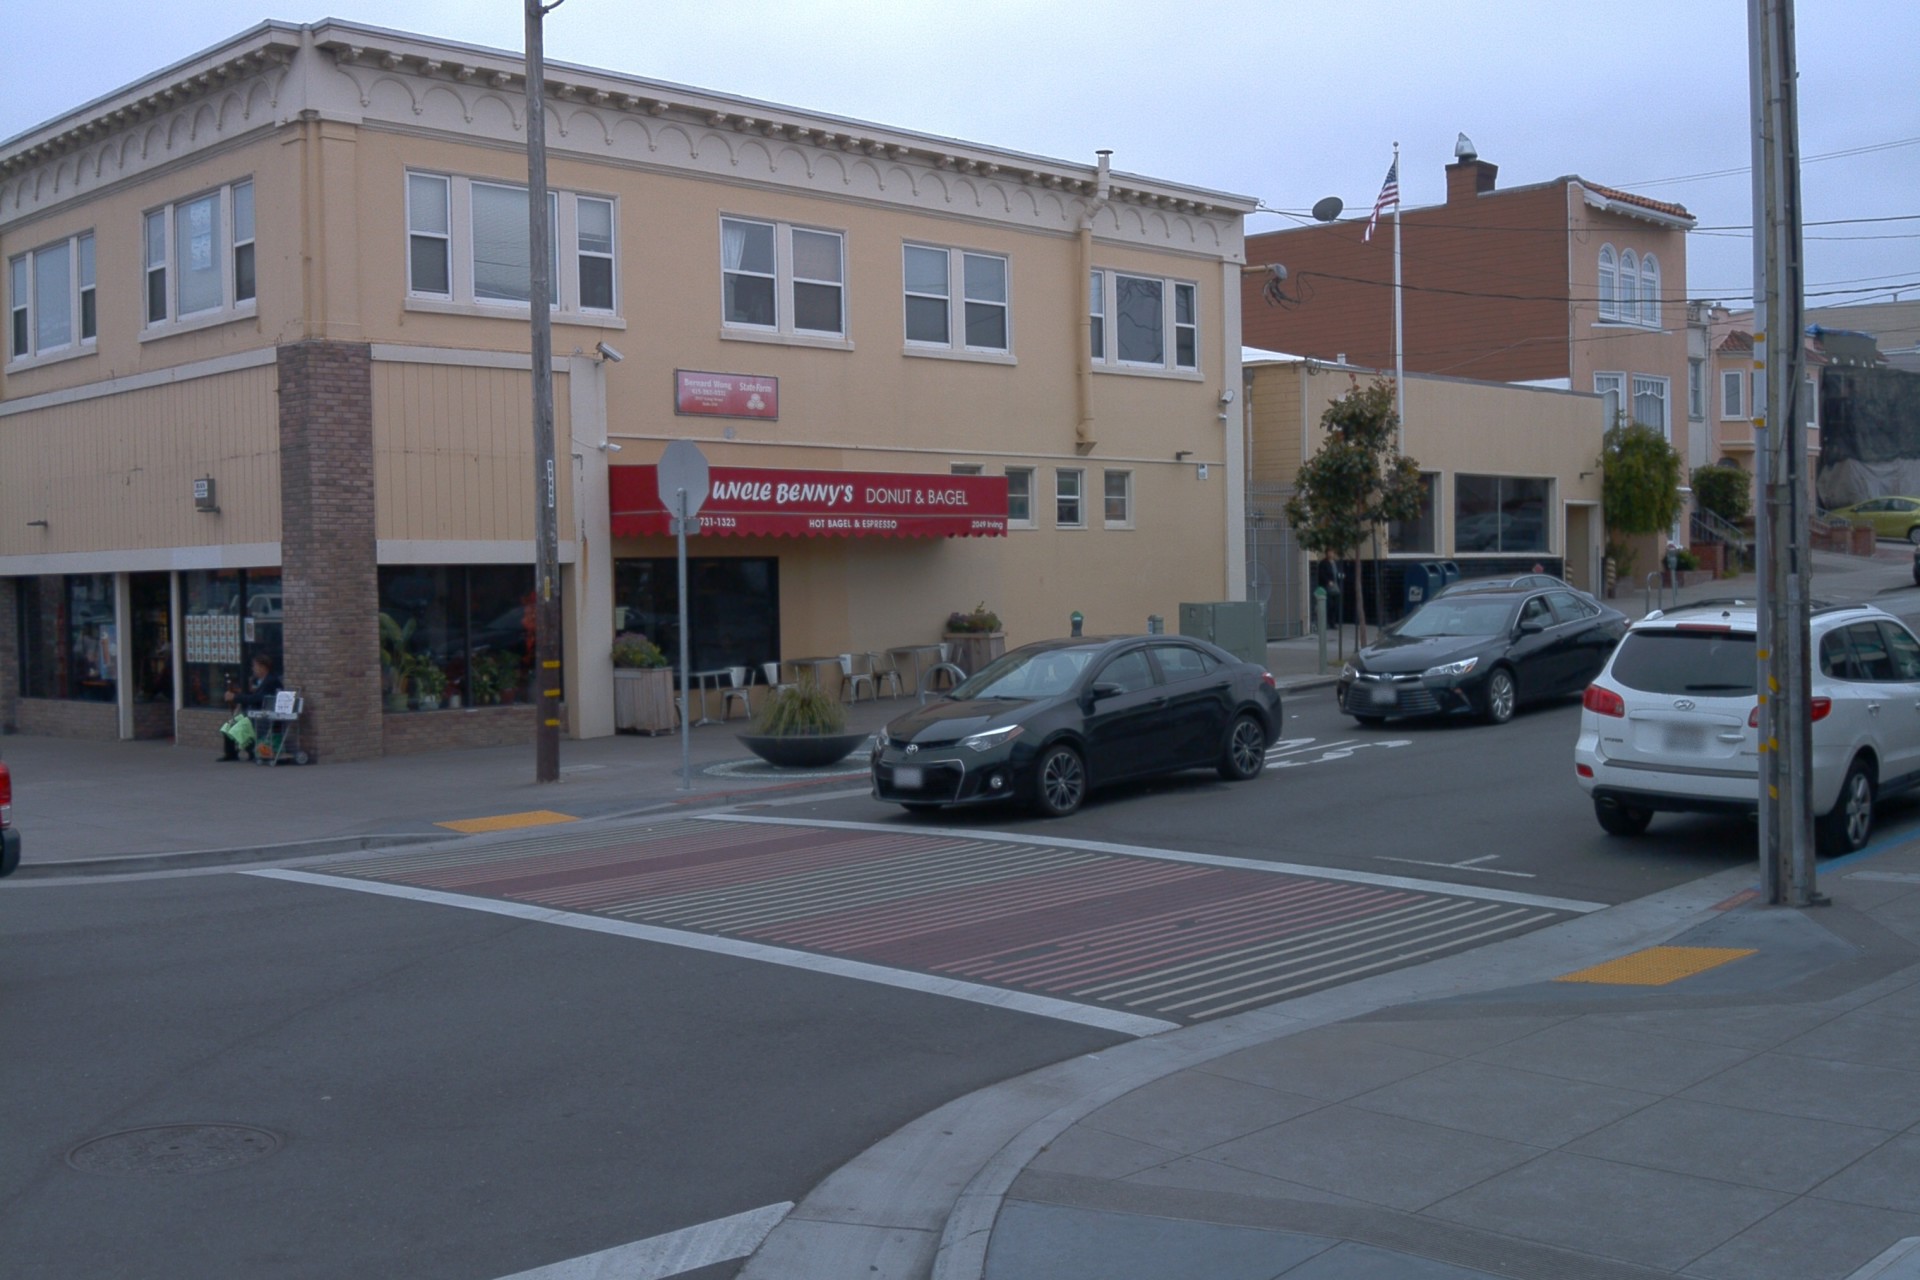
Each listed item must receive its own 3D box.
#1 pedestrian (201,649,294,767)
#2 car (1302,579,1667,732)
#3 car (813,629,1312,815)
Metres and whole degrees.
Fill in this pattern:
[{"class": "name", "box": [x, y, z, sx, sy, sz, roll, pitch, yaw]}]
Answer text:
[{"class": "pedestrian", "box": [-8.563, 0.804, 24.839, 0.878, 1.374, 0.735, 1, 1, 44]}, {"class": "car", "box": [6.342, 0.141, 24.606, 2.082, 1.644, 4.864, 1, 1, 44]}, {"class": "car", "box": [1.042, 0.628, 18.570, 2.067, 1.440, 4.540, 0, 1, 42]}]
